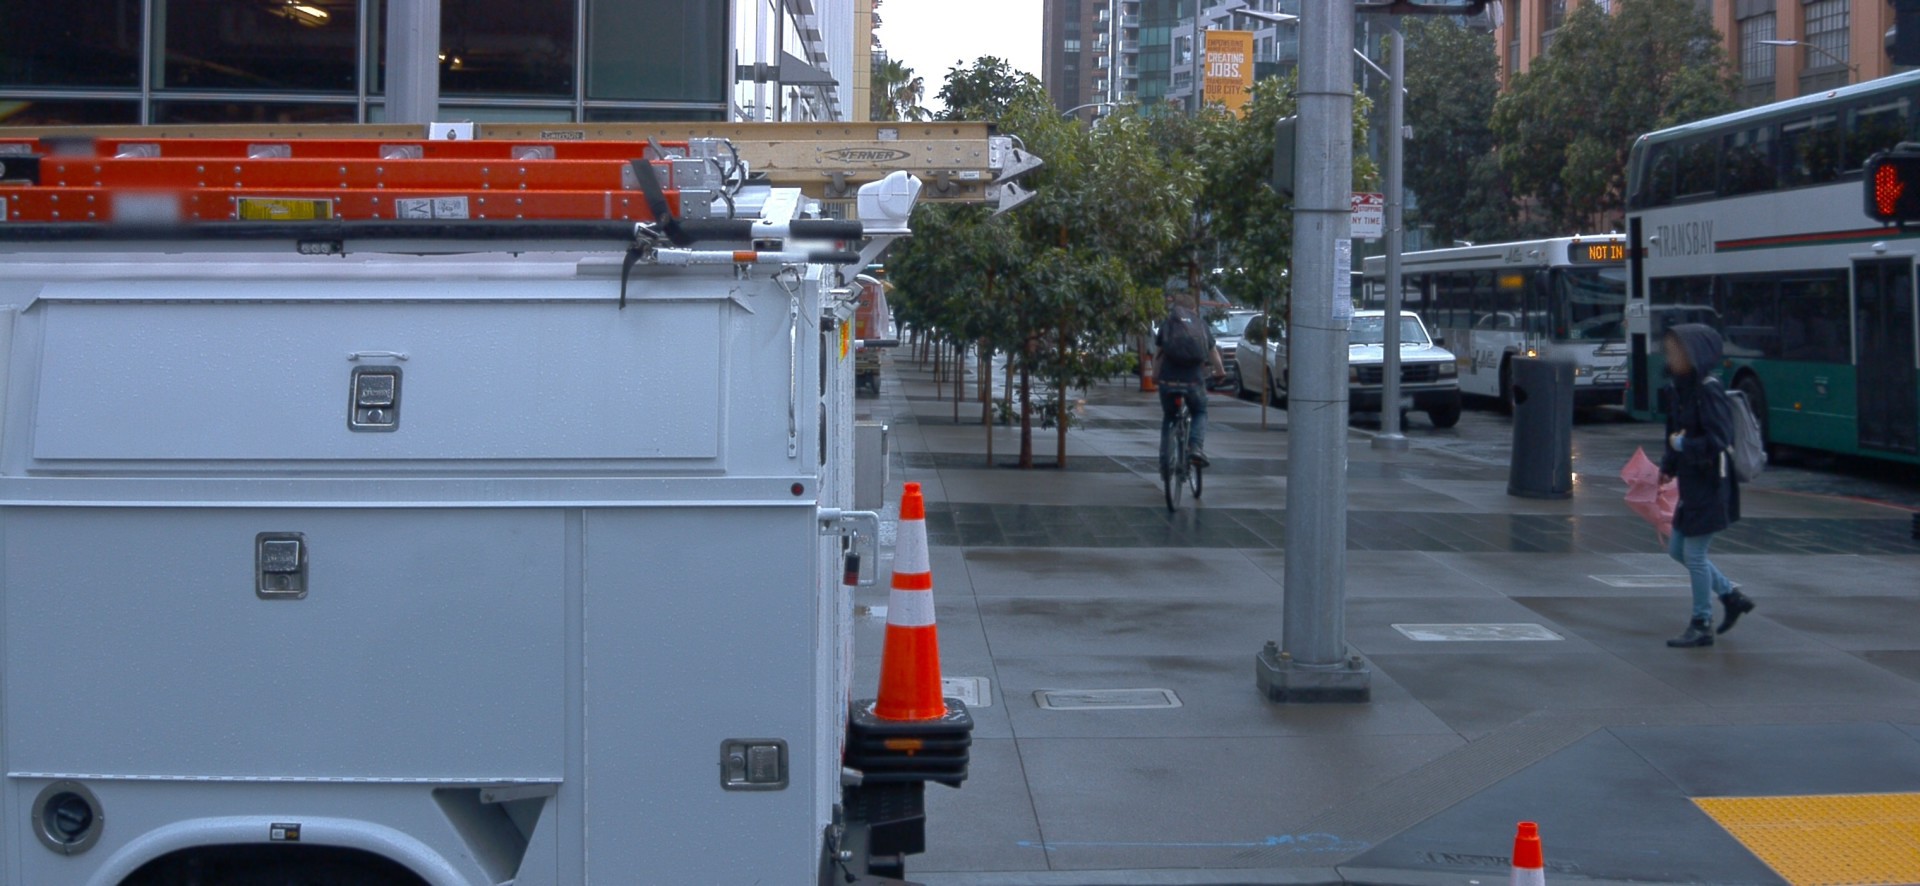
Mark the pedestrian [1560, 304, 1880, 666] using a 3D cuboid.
[{"bbox_3d":[3.794,0.163,10.356,1.174,1.685,1.085,0,2,-3],"label":"pedestrian"}]

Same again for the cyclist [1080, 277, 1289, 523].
[{"bbox_3d":[1.798,-0.407,16.115,1.209,1.741,2.032,1,4,19],"label":"cyclist"}]

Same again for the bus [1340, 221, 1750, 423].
[{"bbox_3d":[9.872,-2.445,36.852,3.258,2.996,12.707,0,6,-2],"label":"bus"}]
